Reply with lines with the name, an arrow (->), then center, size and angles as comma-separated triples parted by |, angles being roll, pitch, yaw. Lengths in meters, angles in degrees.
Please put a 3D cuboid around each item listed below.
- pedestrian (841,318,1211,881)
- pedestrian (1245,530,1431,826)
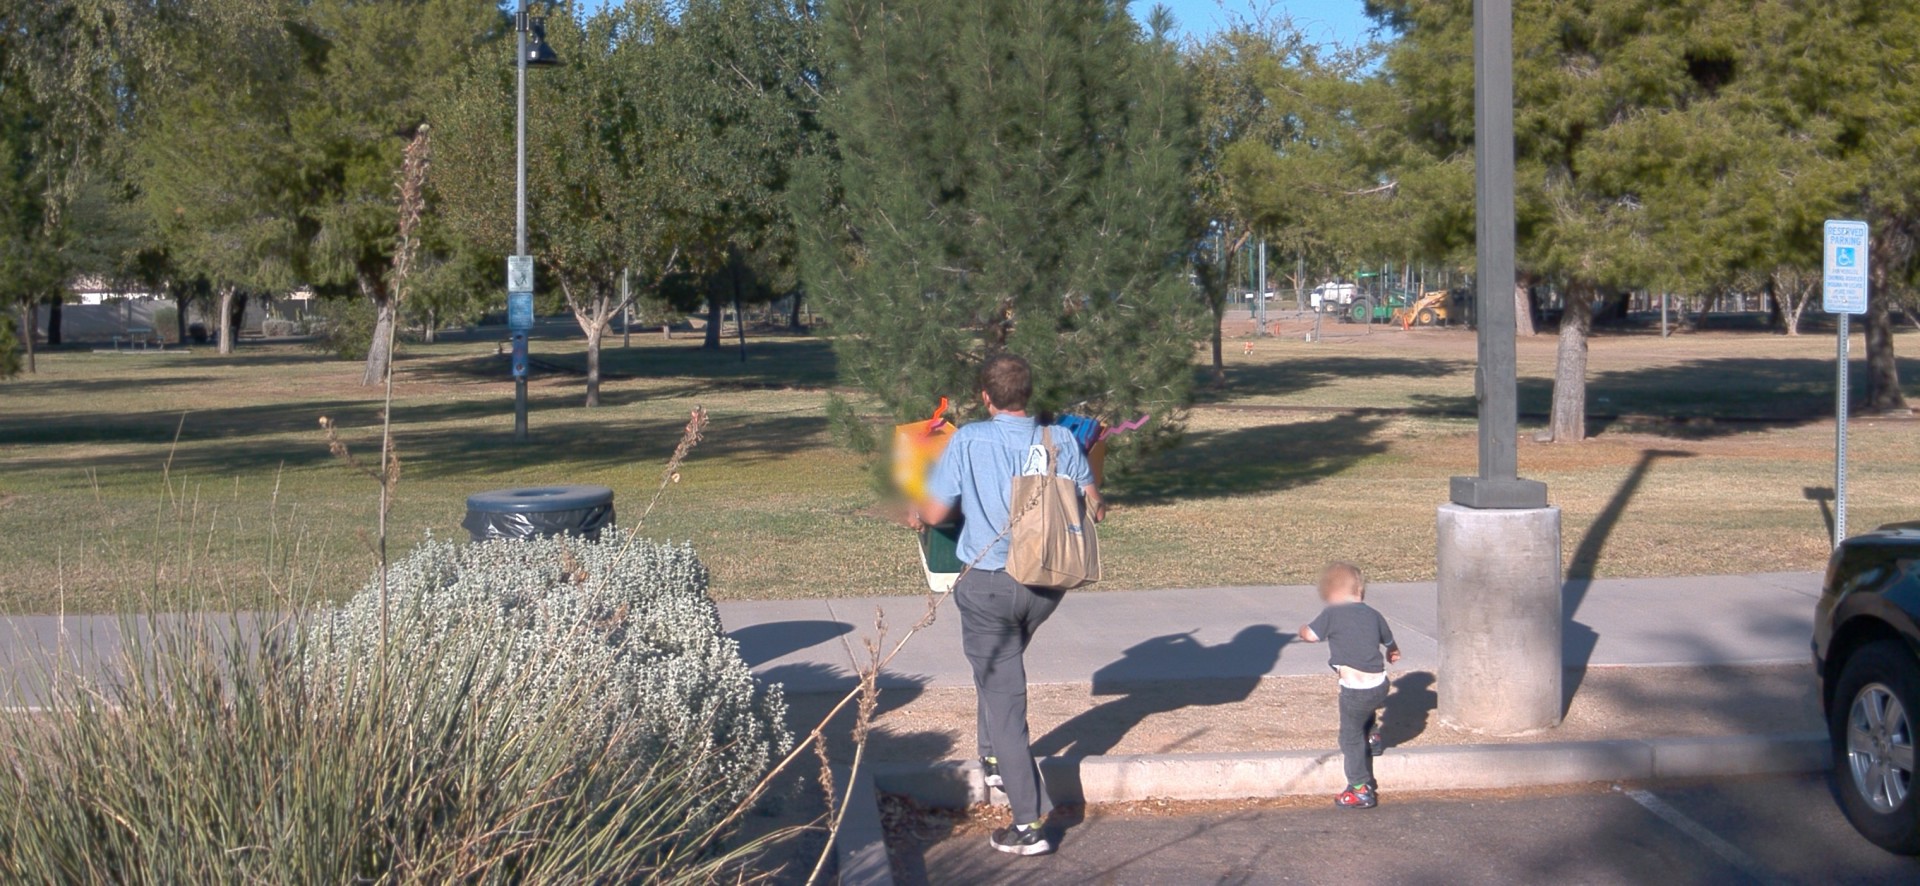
pedestrian -> 0.211, 0.472, 7.455 | 1.003, 1.790, 0.998 | -1, 1, -21
pedestrian -> 1.421, 0.867, 7.901 | 0.537, 0.990, 0.536 | -1, 1, -10
